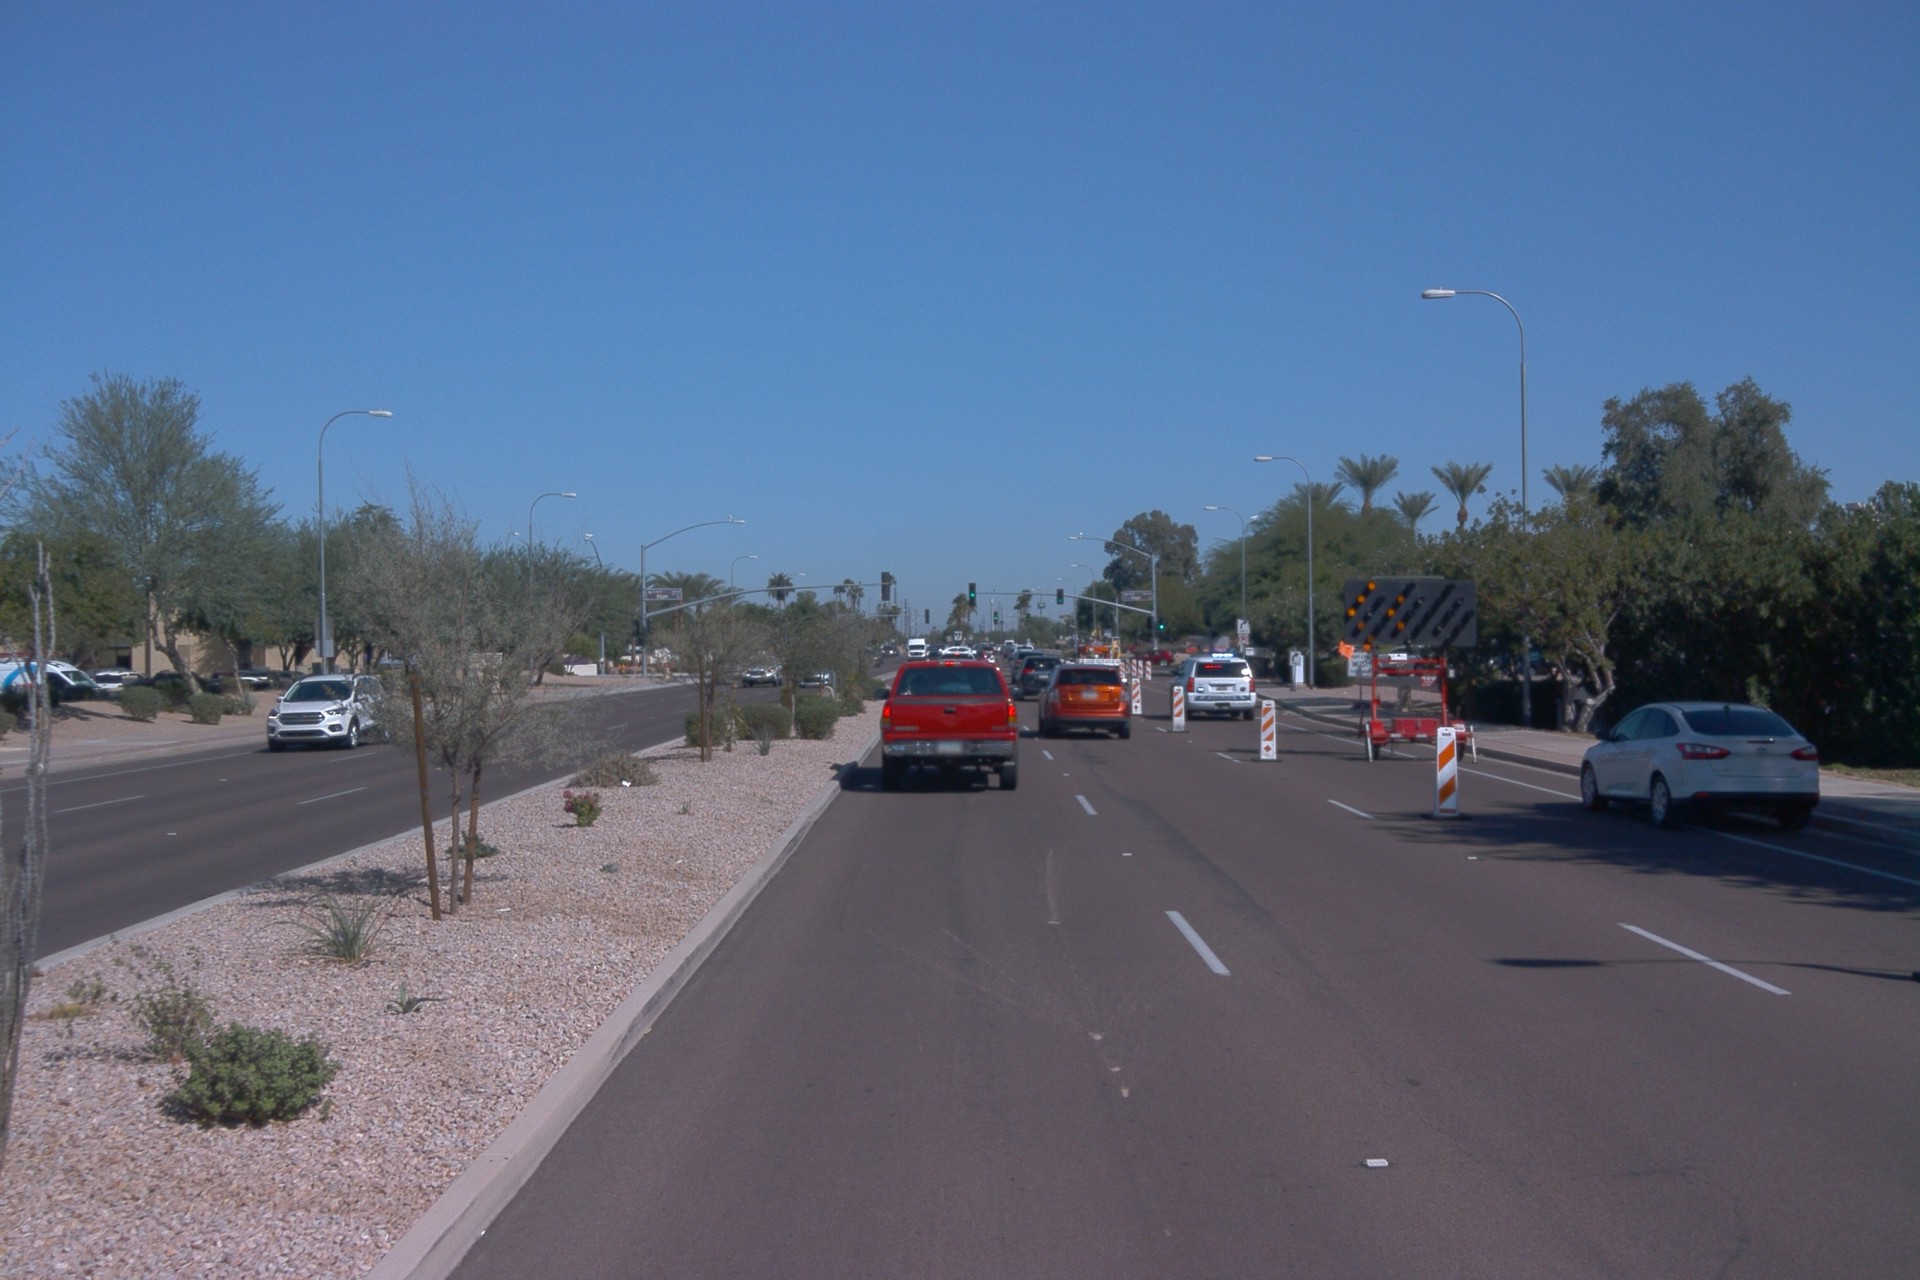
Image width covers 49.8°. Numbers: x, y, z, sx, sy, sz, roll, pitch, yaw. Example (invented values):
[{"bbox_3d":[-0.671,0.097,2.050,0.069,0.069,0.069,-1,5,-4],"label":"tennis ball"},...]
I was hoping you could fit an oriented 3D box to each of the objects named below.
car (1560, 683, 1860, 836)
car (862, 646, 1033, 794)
[{"bbox_3d":[8.978,1.376,25.227,2.026,1.600,4.492,0,0,0],"label":"car"},{"bbox_3d":[-0.169,1.104,31.265,2.340,2.010,5.847,0,0,0],"label":"car"}]
